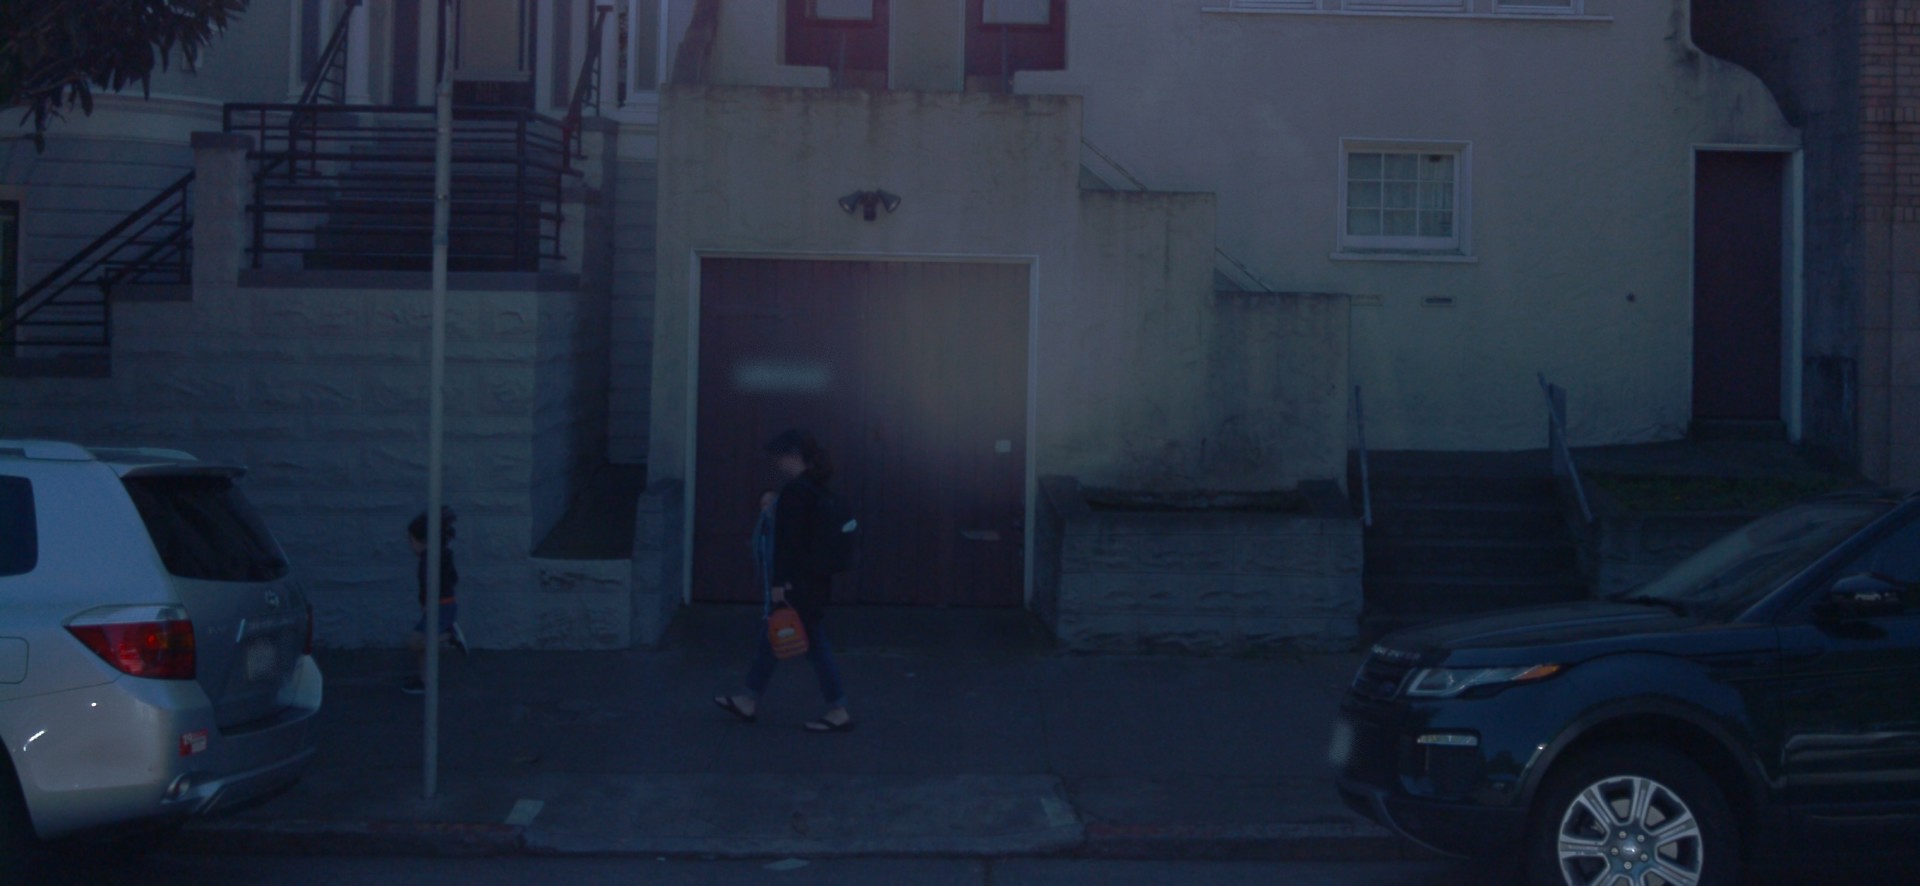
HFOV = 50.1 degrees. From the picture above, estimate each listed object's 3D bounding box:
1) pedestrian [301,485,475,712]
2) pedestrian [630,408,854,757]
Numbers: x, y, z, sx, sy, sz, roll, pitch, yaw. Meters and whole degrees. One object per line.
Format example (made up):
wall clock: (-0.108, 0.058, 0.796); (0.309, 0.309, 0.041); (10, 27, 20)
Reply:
pedestrian: (-3.130, 0.836, 11.286); (0.758, 1.117, 0.684); (0, 3, 0)
pedestrian: (-1.109, 0.684, 10.680); (0.970, 1.626, 0.918); (0, 3, 7)
